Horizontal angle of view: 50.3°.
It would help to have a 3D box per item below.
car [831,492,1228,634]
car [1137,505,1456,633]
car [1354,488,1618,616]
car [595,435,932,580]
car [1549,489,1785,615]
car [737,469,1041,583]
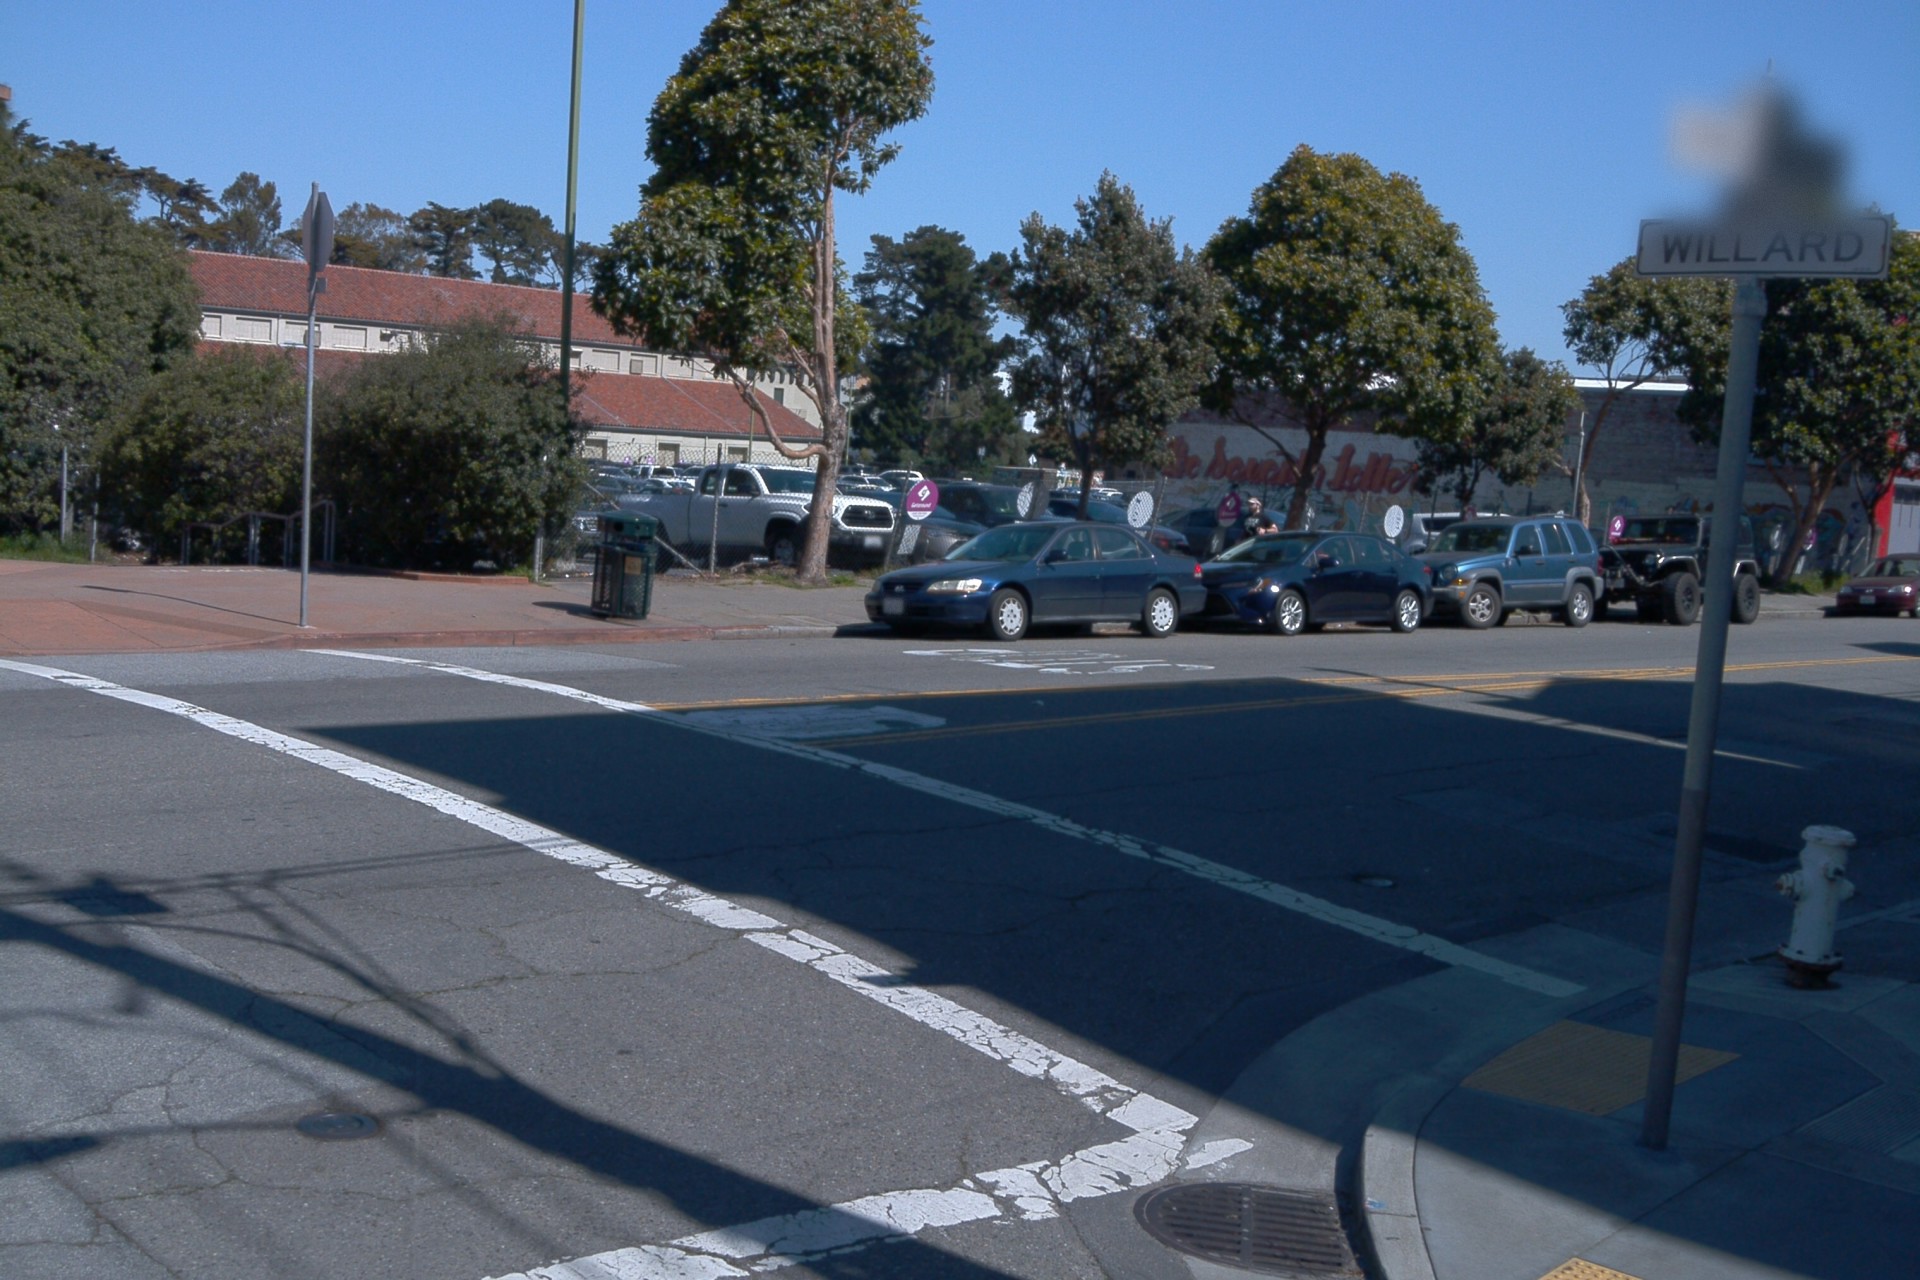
[{"bbox_3d":[0.940,-0.865,24.869,4.876,1.530,2.008,0,0,-44],"label":"car"},{"bbox_3d":[4.713,-0.916,28.214,4.567,1.590,1.947,0,0,-43],"label":"car"},{"bbox_3d":[8.338,-1.321,32.263,4.224,1.840,2.011,0,0,-42],"label":"car"},{"bbox_3d":[-3.171,-1.971,31.948,2.096,1.970,5.675,0,0,-45],"label":"car"},{"bbox_3d":[12.414,-1.473,35.813,4.382,2.010,2.078,0,0,-43],"label":"car"},{"bbox_3d":[-1.253,-1.809,33.802,5.007,1.650,2.171,1,0,45],"label":"car"}]
